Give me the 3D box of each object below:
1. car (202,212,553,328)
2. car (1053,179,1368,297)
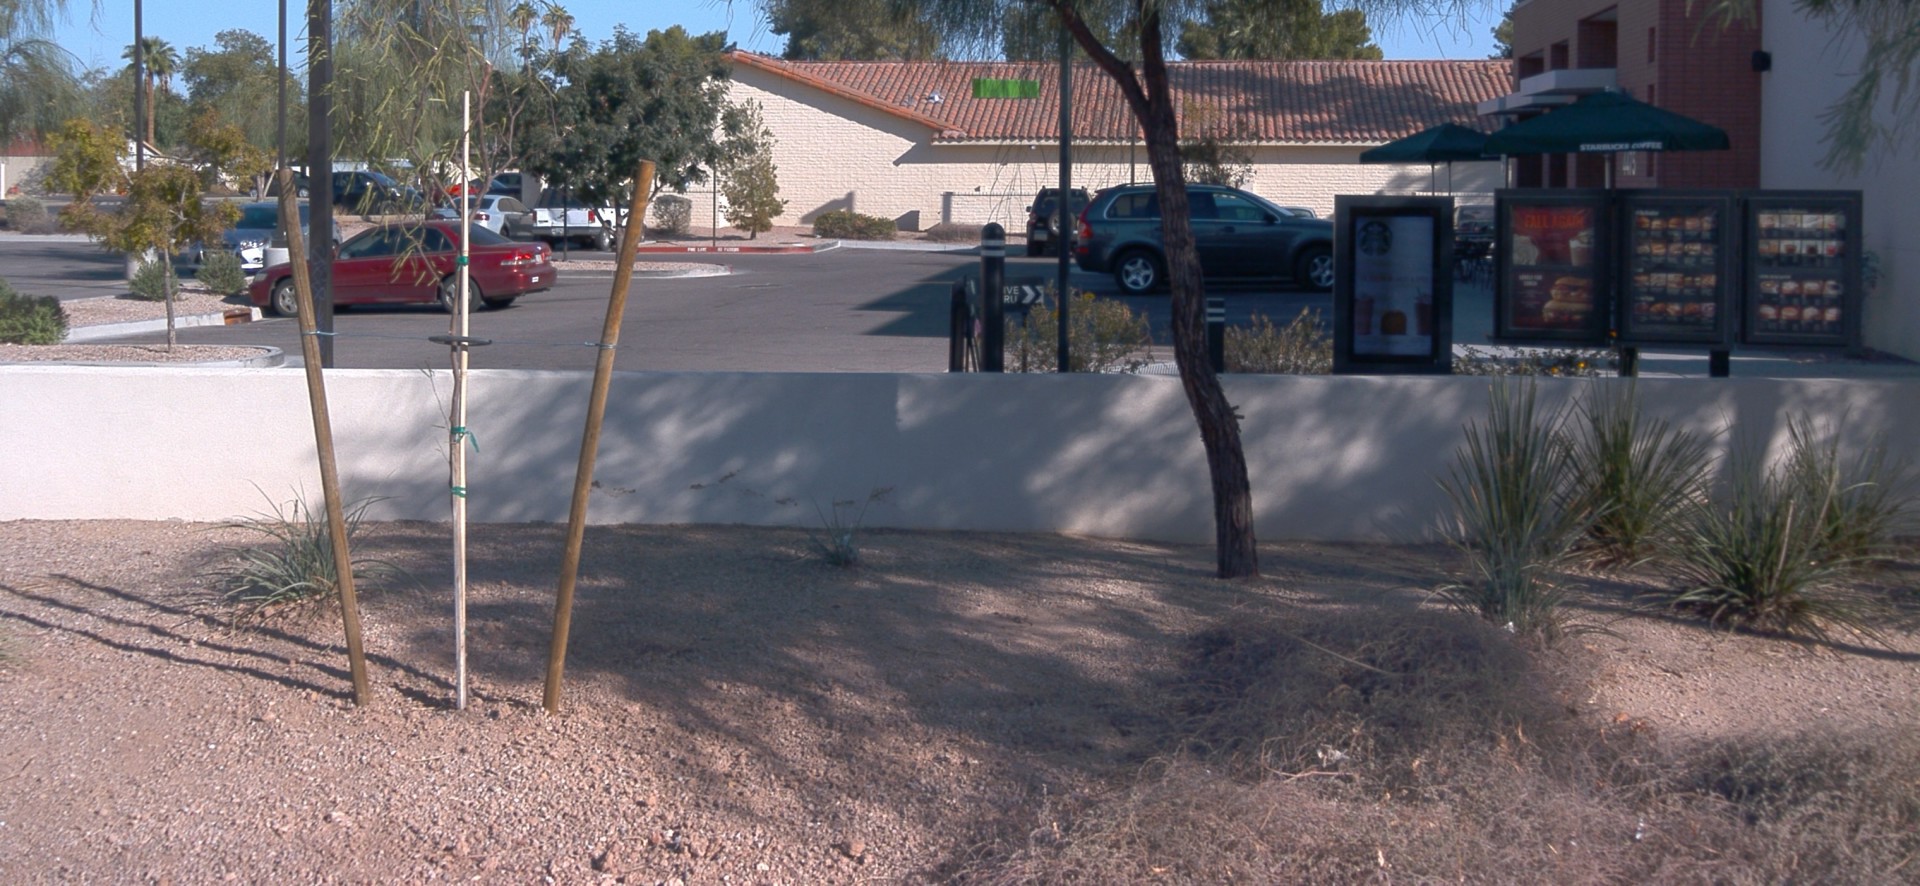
[{"bbox_3d":[-9.014,-2.722,32.383,4.849,1.696,2.014,1,4,9],"label":"car"},{"bbox_3d":[3.960,-3.296,33.318,4.846,1.786,2.164,1,4,5],"label":"car"}]
